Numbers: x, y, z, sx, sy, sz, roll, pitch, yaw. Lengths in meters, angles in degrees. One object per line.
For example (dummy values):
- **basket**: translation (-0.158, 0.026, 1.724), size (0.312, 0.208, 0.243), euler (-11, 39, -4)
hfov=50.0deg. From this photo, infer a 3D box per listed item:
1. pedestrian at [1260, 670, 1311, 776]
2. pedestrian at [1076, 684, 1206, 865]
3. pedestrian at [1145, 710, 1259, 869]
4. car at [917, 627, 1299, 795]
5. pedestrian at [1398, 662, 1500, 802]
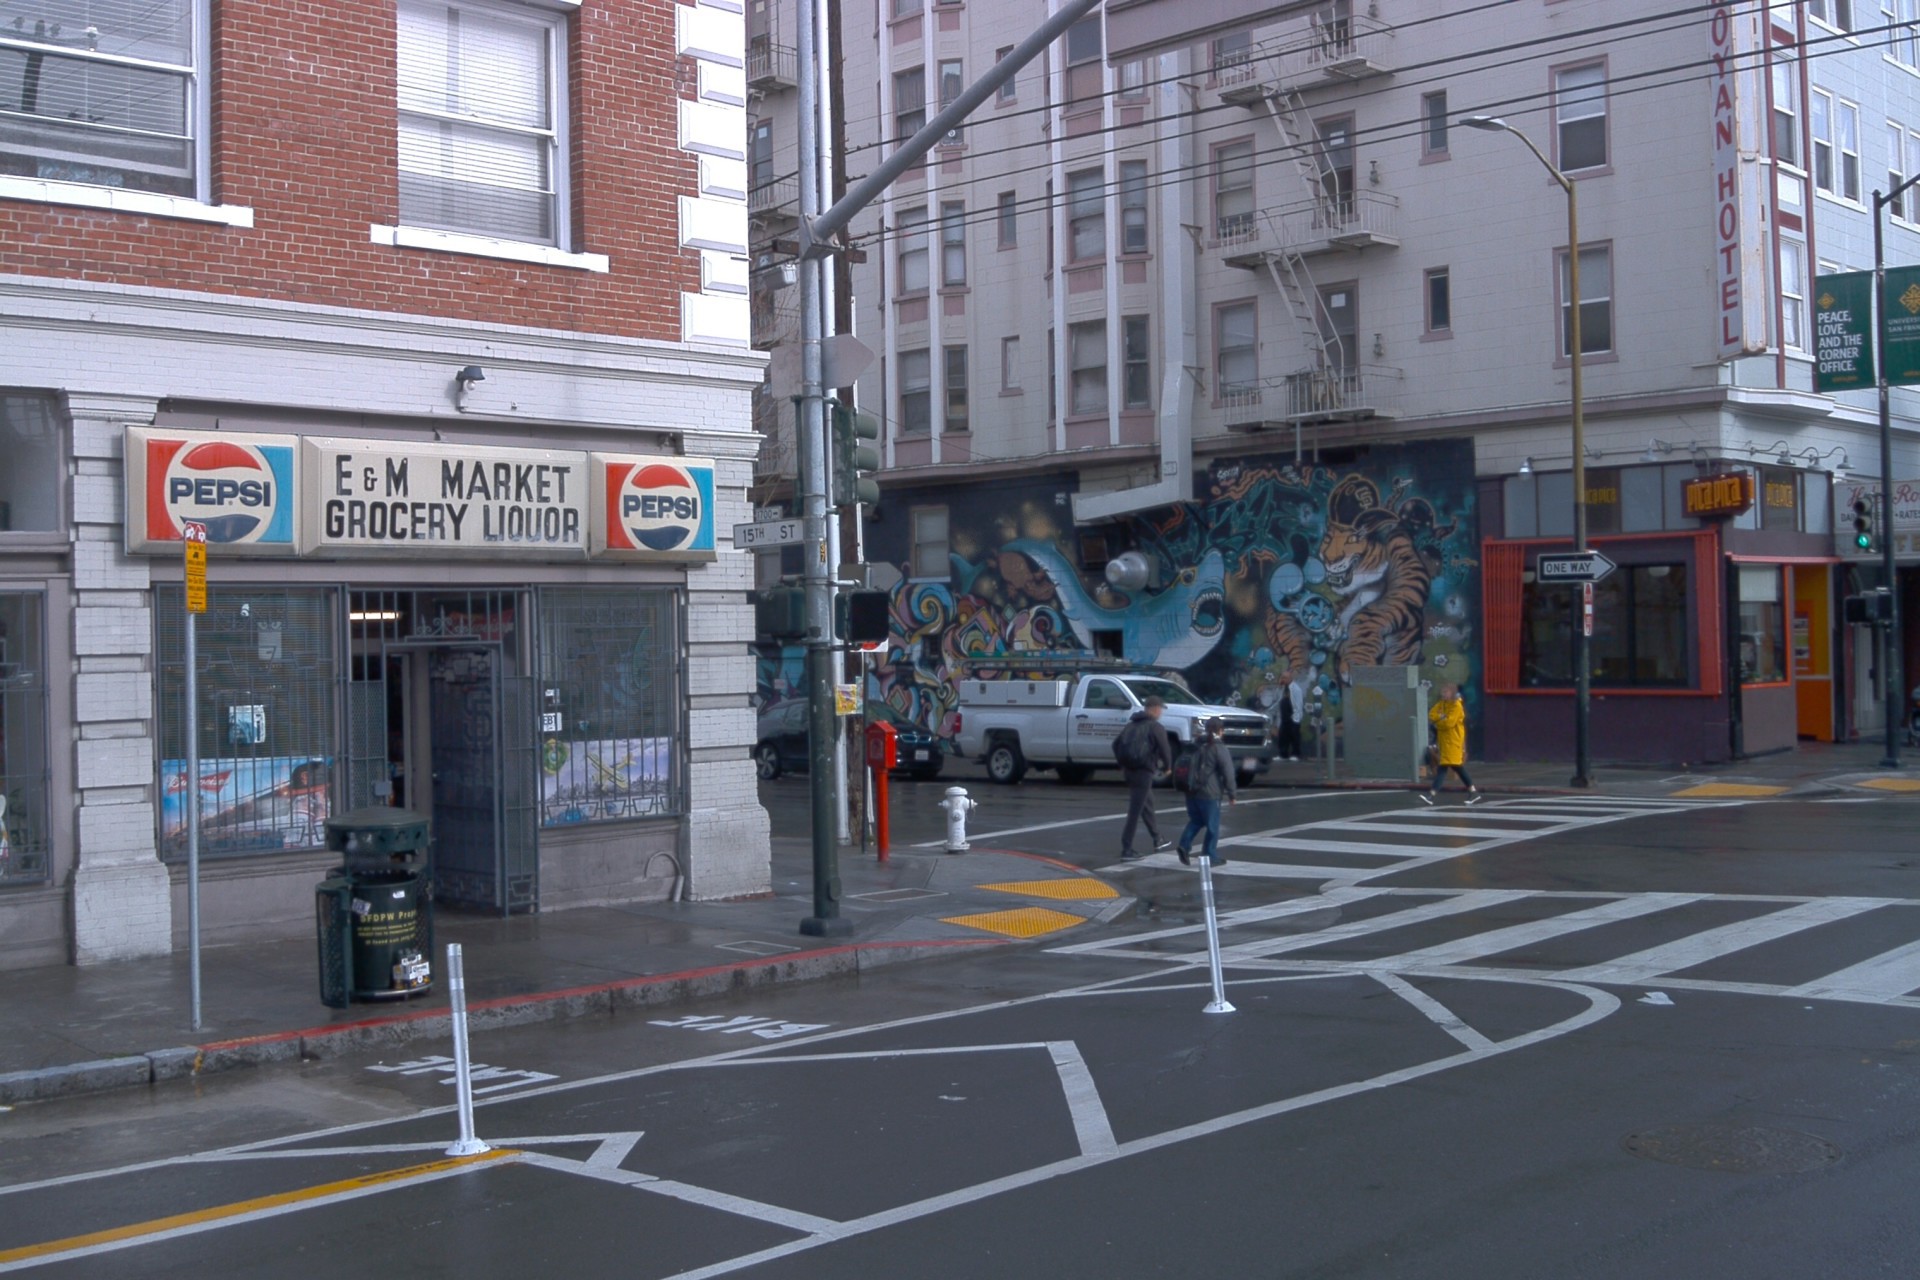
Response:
- **pedestrian**: translation (5.933, 1.507, 37.493), size (0.676, 1.880, 0.623), euler (1, 2, 45)
- **pedestrian**: translation (1.926, 1.406, 21.945), size (1.077, 1.830, 0.861), euler (-1, 1, -38)
- **pedestrian**: translation (2.489, 1.514, 21.147), size (0.830, 1.530, 0.803), euler (-1, 1, -43)
- **car**: translation (2.294, 1.041, 33.714), size (2.327, 2.440, 6.249), euler (-1, 1, -45)
- **pedestrian**: translation (6.354, 1.182, 26.717), size (1.041, 1.750, 0.760), euler (0, 1, -30)
